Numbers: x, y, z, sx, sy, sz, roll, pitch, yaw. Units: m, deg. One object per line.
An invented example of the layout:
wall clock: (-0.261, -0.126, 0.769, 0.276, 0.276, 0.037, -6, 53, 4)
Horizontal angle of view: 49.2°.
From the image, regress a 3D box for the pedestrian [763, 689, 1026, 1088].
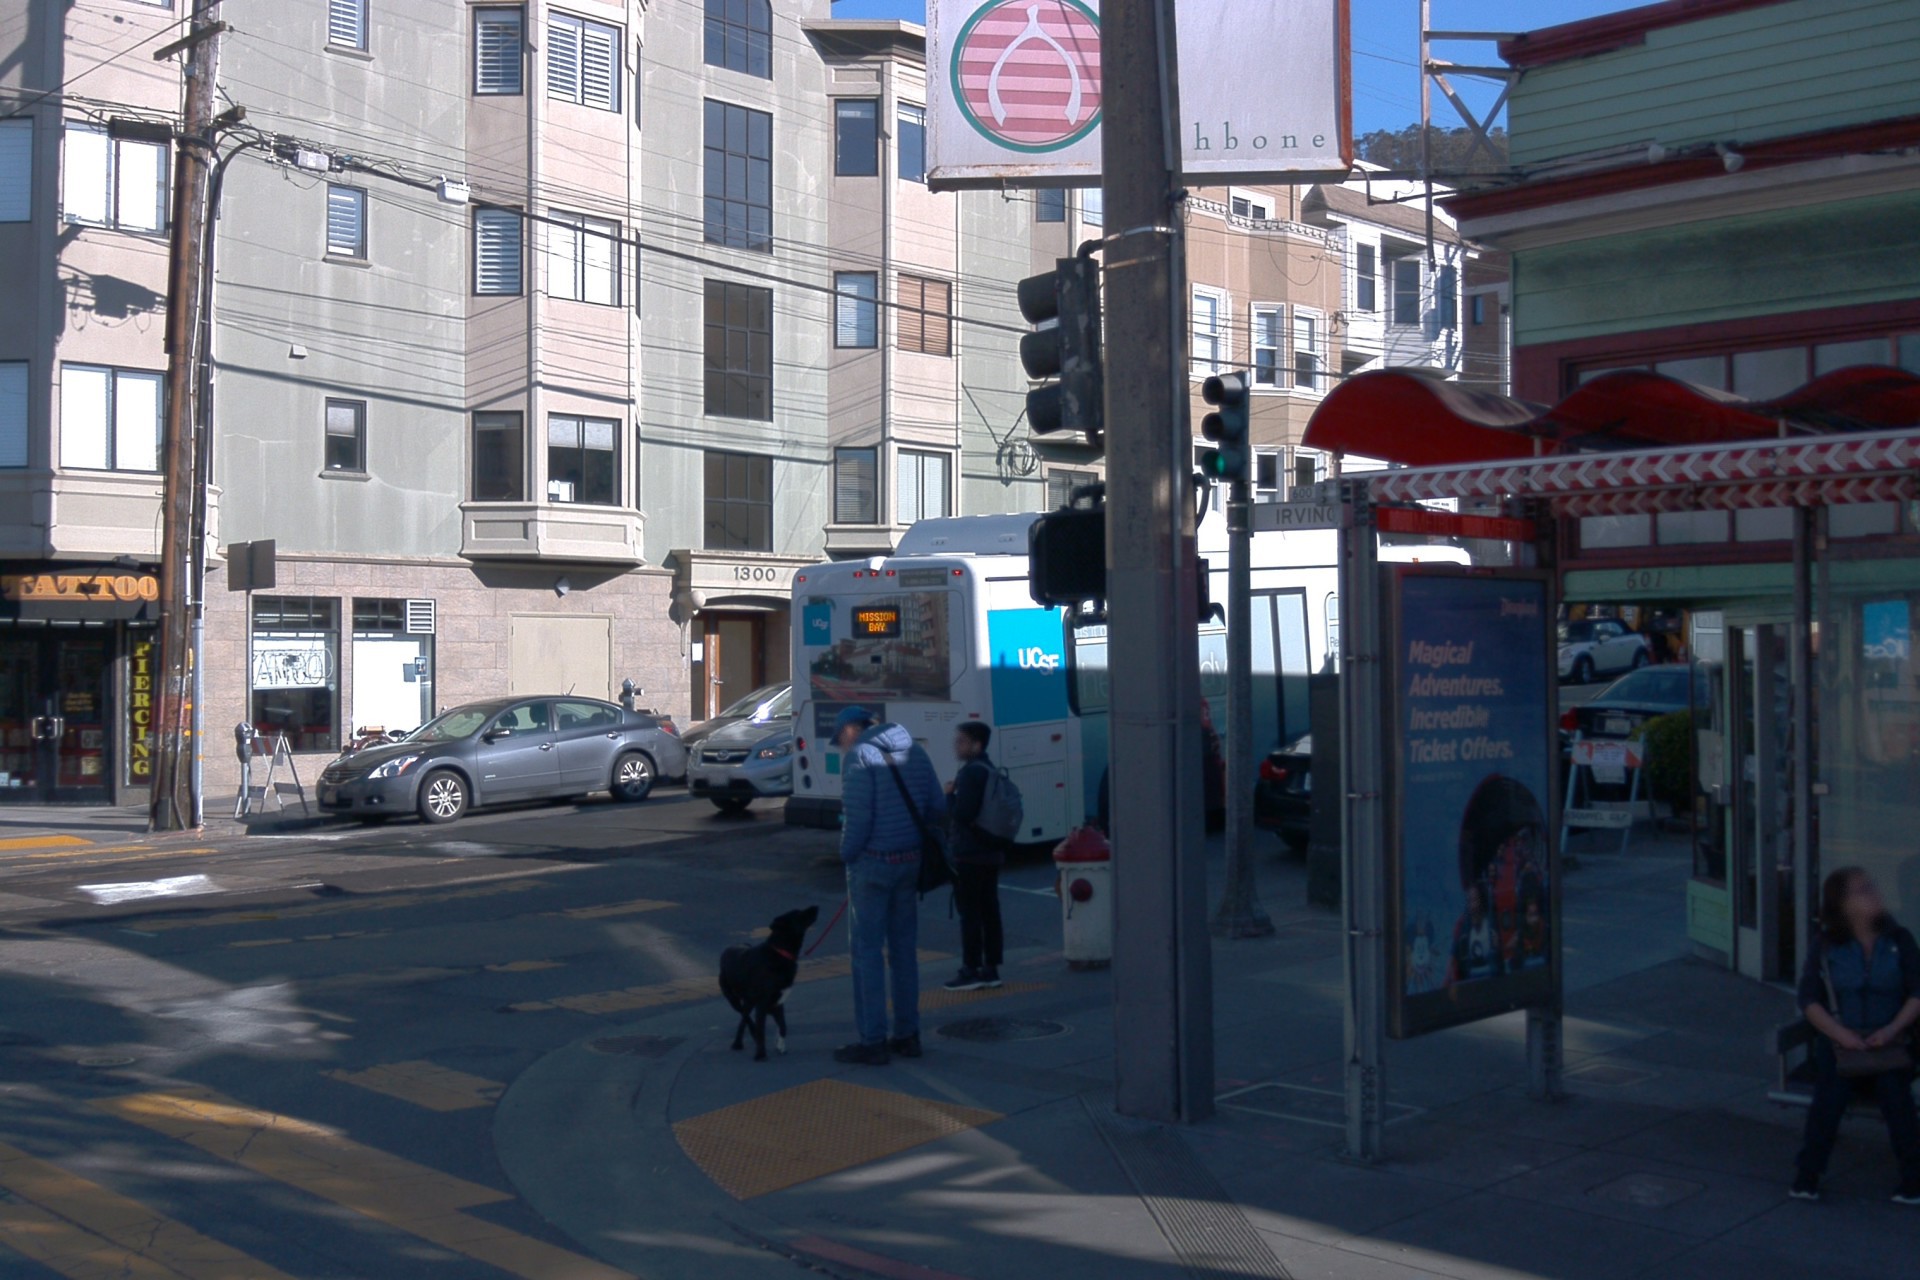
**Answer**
pedestrian: (-0.329, 1.187, 10.548, 0.955, 1.860, 0.894, 0, 0, -44)

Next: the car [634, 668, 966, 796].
car: (-2.226, 1.255, 30.149, 2.102, 1.670, 4.524, 0, 0, 43)

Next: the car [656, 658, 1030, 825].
car: (-1.283, 1.119, 24.810, 1.930, 1.770, 4.447, 1, 0, 39)

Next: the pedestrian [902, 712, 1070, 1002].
pedestrian: (0.159, 1.315, 13.051, 0.687, 1.700, 0.778, 0, 0, -43)

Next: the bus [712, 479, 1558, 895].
bus: (2.441, 0.433, 22.502, 3.430, 3.464, 10.481, 1, 0, 42)

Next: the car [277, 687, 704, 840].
car: (-5.788, 1.455, 26.277, 2.149, 1.660, 4.833, 0, 0, 44)
